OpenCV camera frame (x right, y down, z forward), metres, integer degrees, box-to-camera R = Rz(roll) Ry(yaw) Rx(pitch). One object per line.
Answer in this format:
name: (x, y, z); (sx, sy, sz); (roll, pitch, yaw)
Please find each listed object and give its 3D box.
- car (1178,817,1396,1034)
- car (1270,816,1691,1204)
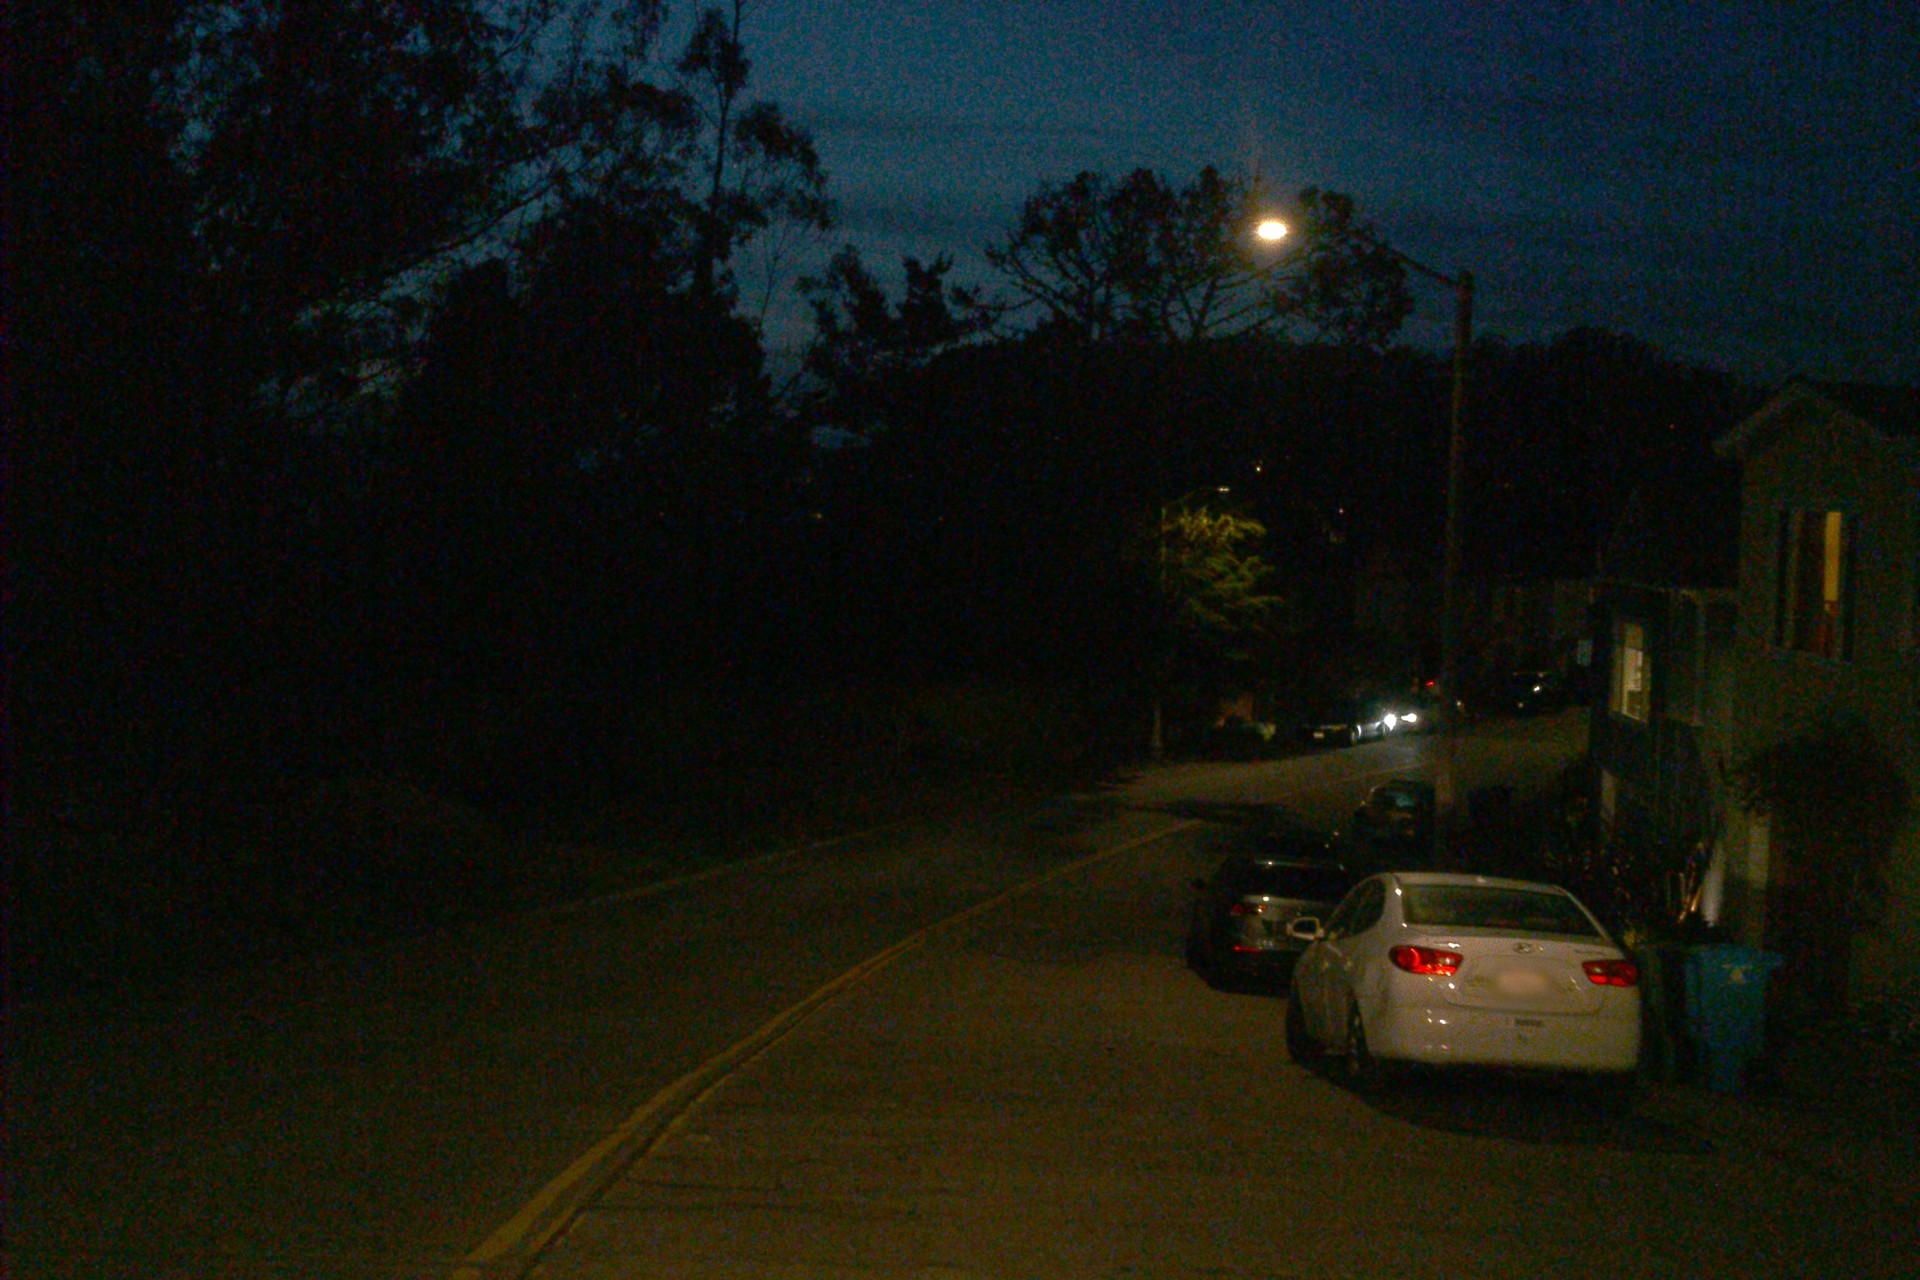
car: (3.988, 3.470, 26.073); (2.096, 2.100, 4.694); (0, 0, 1)
car: (3.449, 2.399, 14.661); (2.079, 1.940, 4.518); (0, 0, 3)
